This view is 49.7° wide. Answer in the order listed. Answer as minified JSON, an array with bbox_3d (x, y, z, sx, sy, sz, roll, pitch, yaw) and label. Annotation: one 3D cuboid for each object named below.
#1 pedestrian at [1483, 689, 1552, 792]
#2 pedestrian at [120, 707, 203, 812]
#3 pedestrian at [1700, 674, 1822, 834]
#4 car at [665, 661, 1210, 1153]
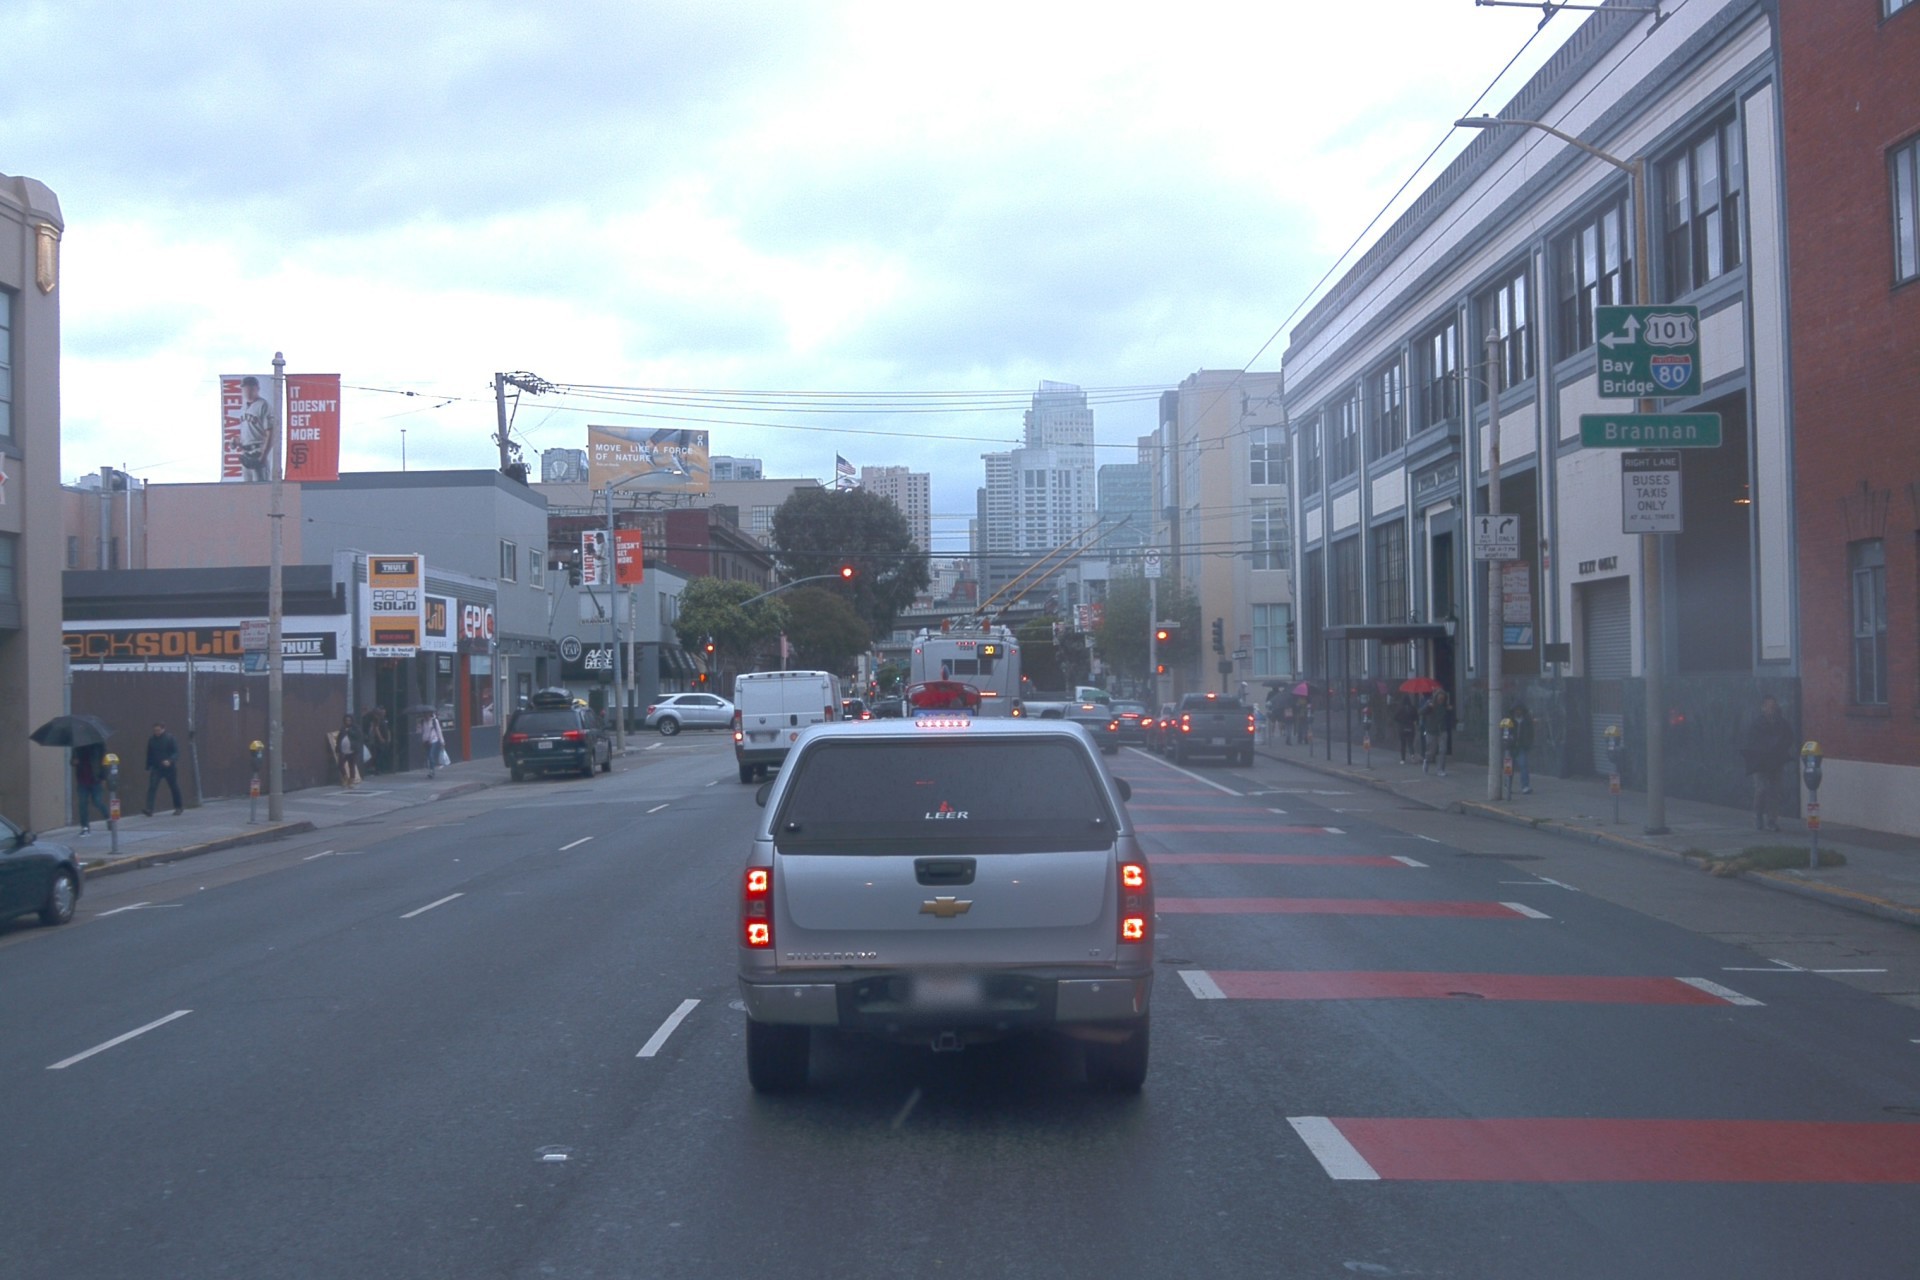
[{"bbox_3d":[9.689,1.728,36.051,0.899,1.750,1.034,0,-1,-1],"label":"pedestrian"},{"bbox_3d":[-13.327,1.986,34.633,0.936,1.708,1.069,0,-1,2],"label":"pedestrian"},{"bbox_3d":[10.135,1.414,26.289,1.012,1.970,1.529,0,-1,4],"label":"pedestrian"},{"bbox_3d":[-0.094,1.233,11.767,2.437,2.200,4.924,0,-1,0],"label":"car"}]
